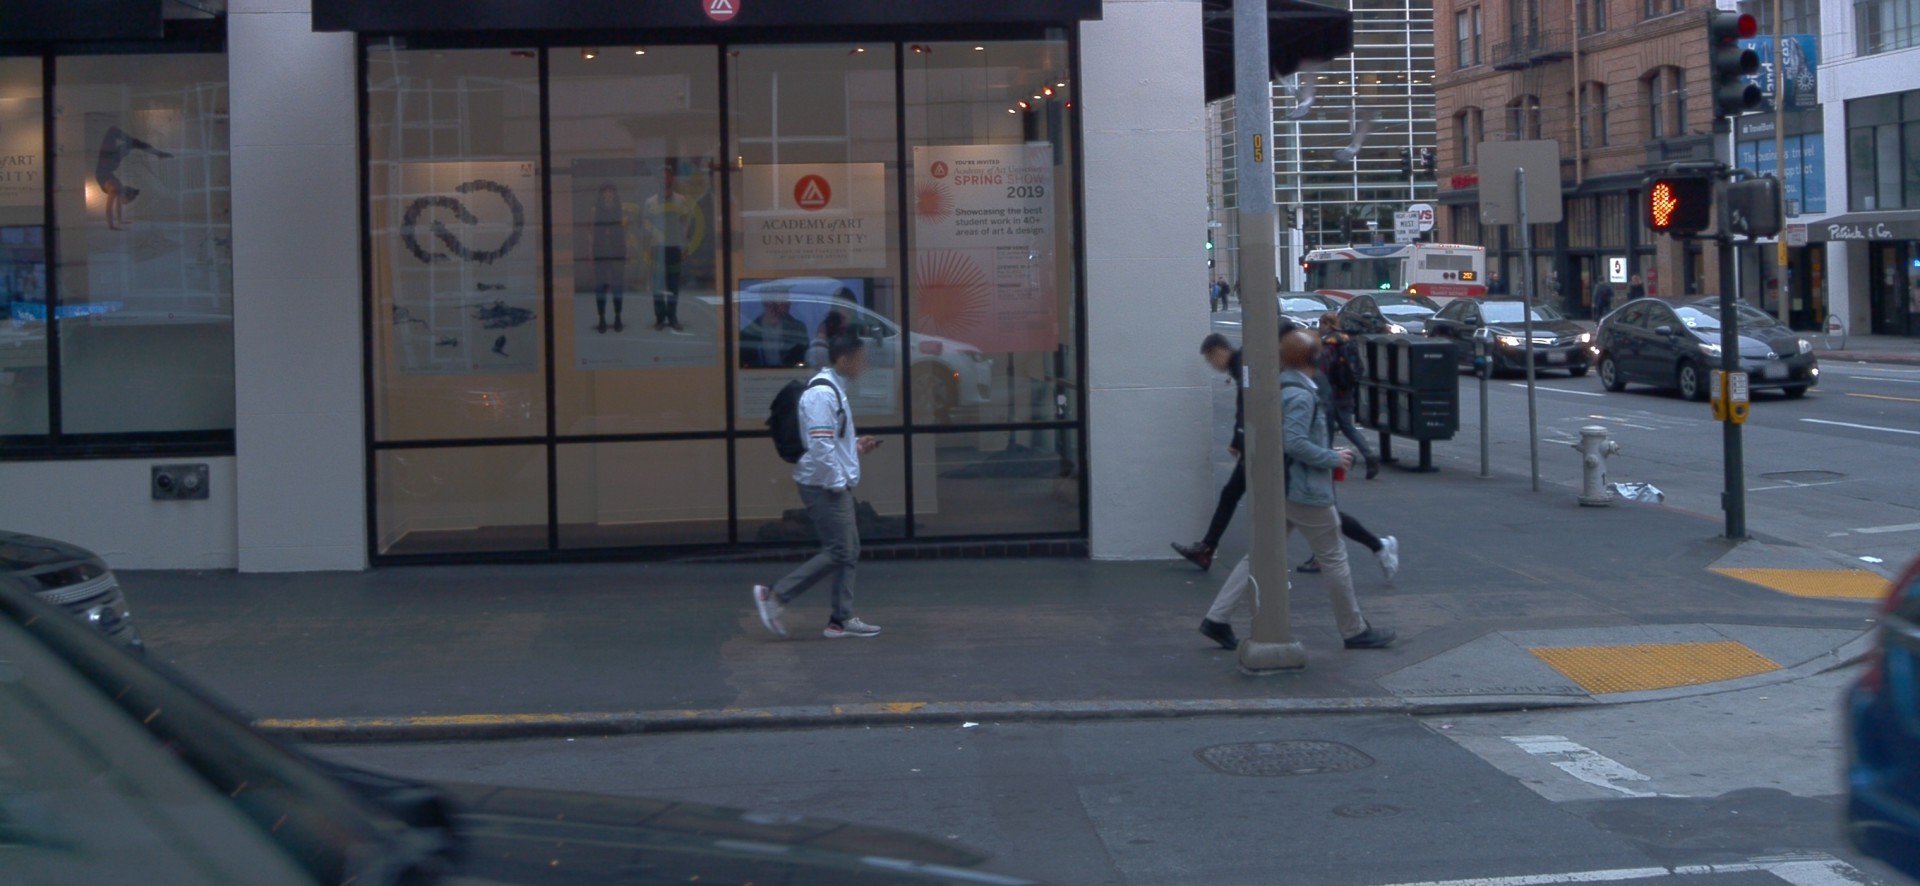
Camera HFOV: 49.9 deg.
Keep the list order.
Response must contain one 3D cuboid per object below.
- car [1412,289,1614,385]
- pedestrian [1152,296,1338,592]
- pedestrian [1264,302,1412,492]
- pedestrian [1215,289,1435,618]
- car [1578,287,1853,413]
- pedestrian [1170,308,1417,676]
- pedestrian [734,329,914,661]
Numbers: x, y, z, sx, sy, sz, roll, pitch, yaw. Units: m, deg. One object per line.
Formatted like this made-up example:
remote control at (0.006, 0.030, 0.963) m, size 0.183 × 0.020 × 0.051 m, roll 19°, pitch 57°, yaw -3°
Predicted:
car at (10.084, -2.014, 38.005) m, size 2.075 × 1.442 × 4.654 m, roll -1°, pitch 6°, yaw -6°
pedestrian at (1.905, -0.022, 13.894) m, size 1.131 × 1.897 × 0.794 m, roll 0°, pitch 2°, yaw -1°
pedestrian at (3.733, -0.486, 20.402) m, size 0.854 × 1.746 × 1.158 m, roll -2°, pitch 3°, yaw -38°
pedestrian at (2.302, 0.028, 13.101) m, size 1.185 × 1.967 × 0.834 m, roll -1°, pitch 2°, yaw -8°
car at (11.100, -1.459, 30.684) m, size 2.064 × 1.531 × 4.507 m, roll -1°, pitch 6°, yaw -6°
pedestrian at (1.798, 0.229, 11.239) m, size 1.166 × 1.877 × 0.760 m, roll -1°, pitch 2°, yaw -6°
pedestrian at (-0.755, 0.262, 11.573) m, size 0.964 × 1.747 × 0.716 m, roll 0°, pitch 2°, yaw -3°
